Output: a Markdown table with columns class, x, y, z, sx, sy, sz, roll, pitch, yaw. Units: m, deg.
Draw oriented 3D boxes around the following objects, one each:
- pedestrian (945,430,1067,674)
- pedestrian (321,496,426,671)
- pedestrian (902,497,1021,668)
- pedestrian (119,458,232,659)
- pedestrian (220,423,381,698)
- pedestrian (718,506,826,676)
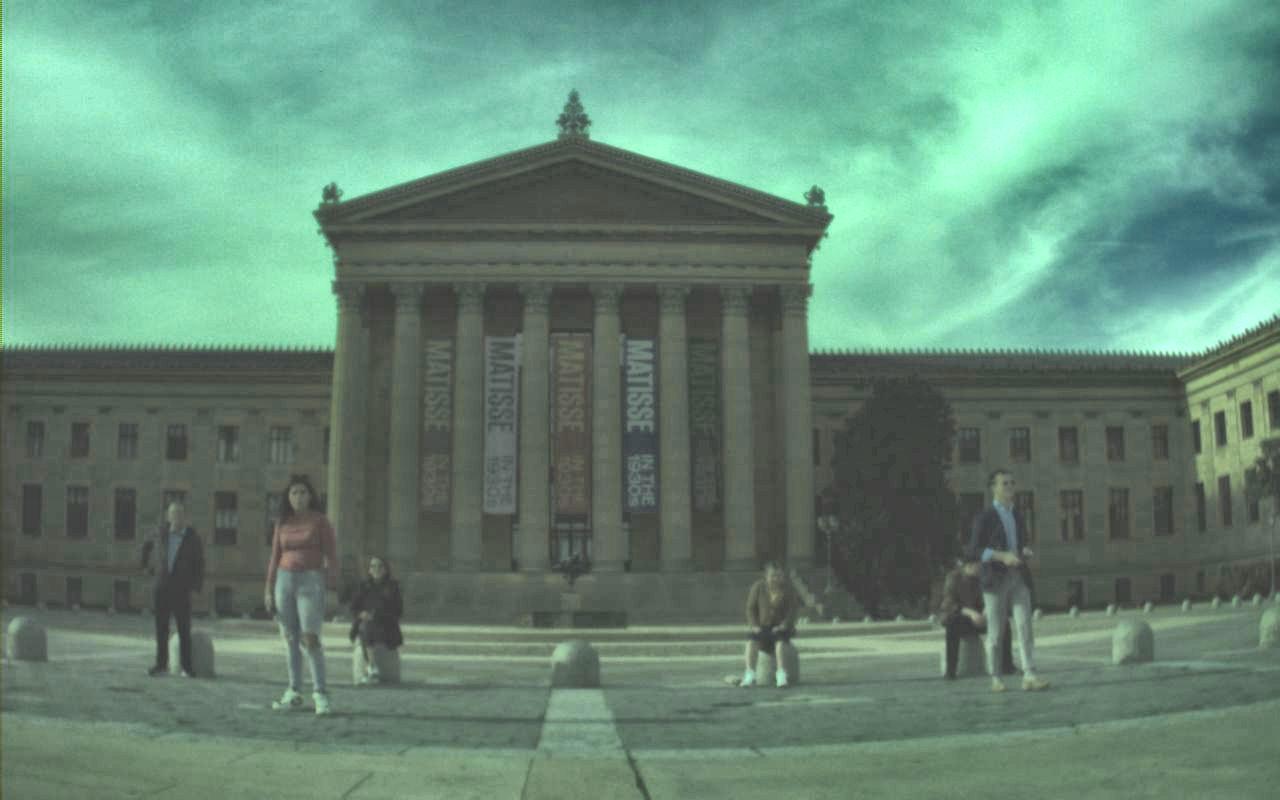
| class | x | y | z | sx | sy | sz | roll | pitch | yaw |
| --- | --- | --- | --- | --- | --- | --- | --- | --- | --- |
| pedestrian | 2.832 | 1.167 | 9.424 | 0.785 | 1.808 | 0.820 | 0 | 0 | 7 |
| pedestrian | -2.499 | 1.716 | 11.530 | 0.804 | 1.515 | 0.846 | 0 | 0 | 1 |
| pedestrian | 3.104 | 1.747 | 11.745 | 0.837 | 1.503 | 0.776 | 0 | 0 | -43 |
| pedestrian | -4.377 | 1.483 | 11.052 | 0.817 | 1.770 | 0.862 | 0 | 0 | -2 |
| pedestrian | -2.255 | 1.039 | 8.034 | 0.752 | 1.707 | 0.776 | 1 | 0 | 18 |
| pedestrian | 1.225 | 1.783 | 11.723 | 0.780 | 1.467 | 0.818 | 0 | 0 | -12 |
